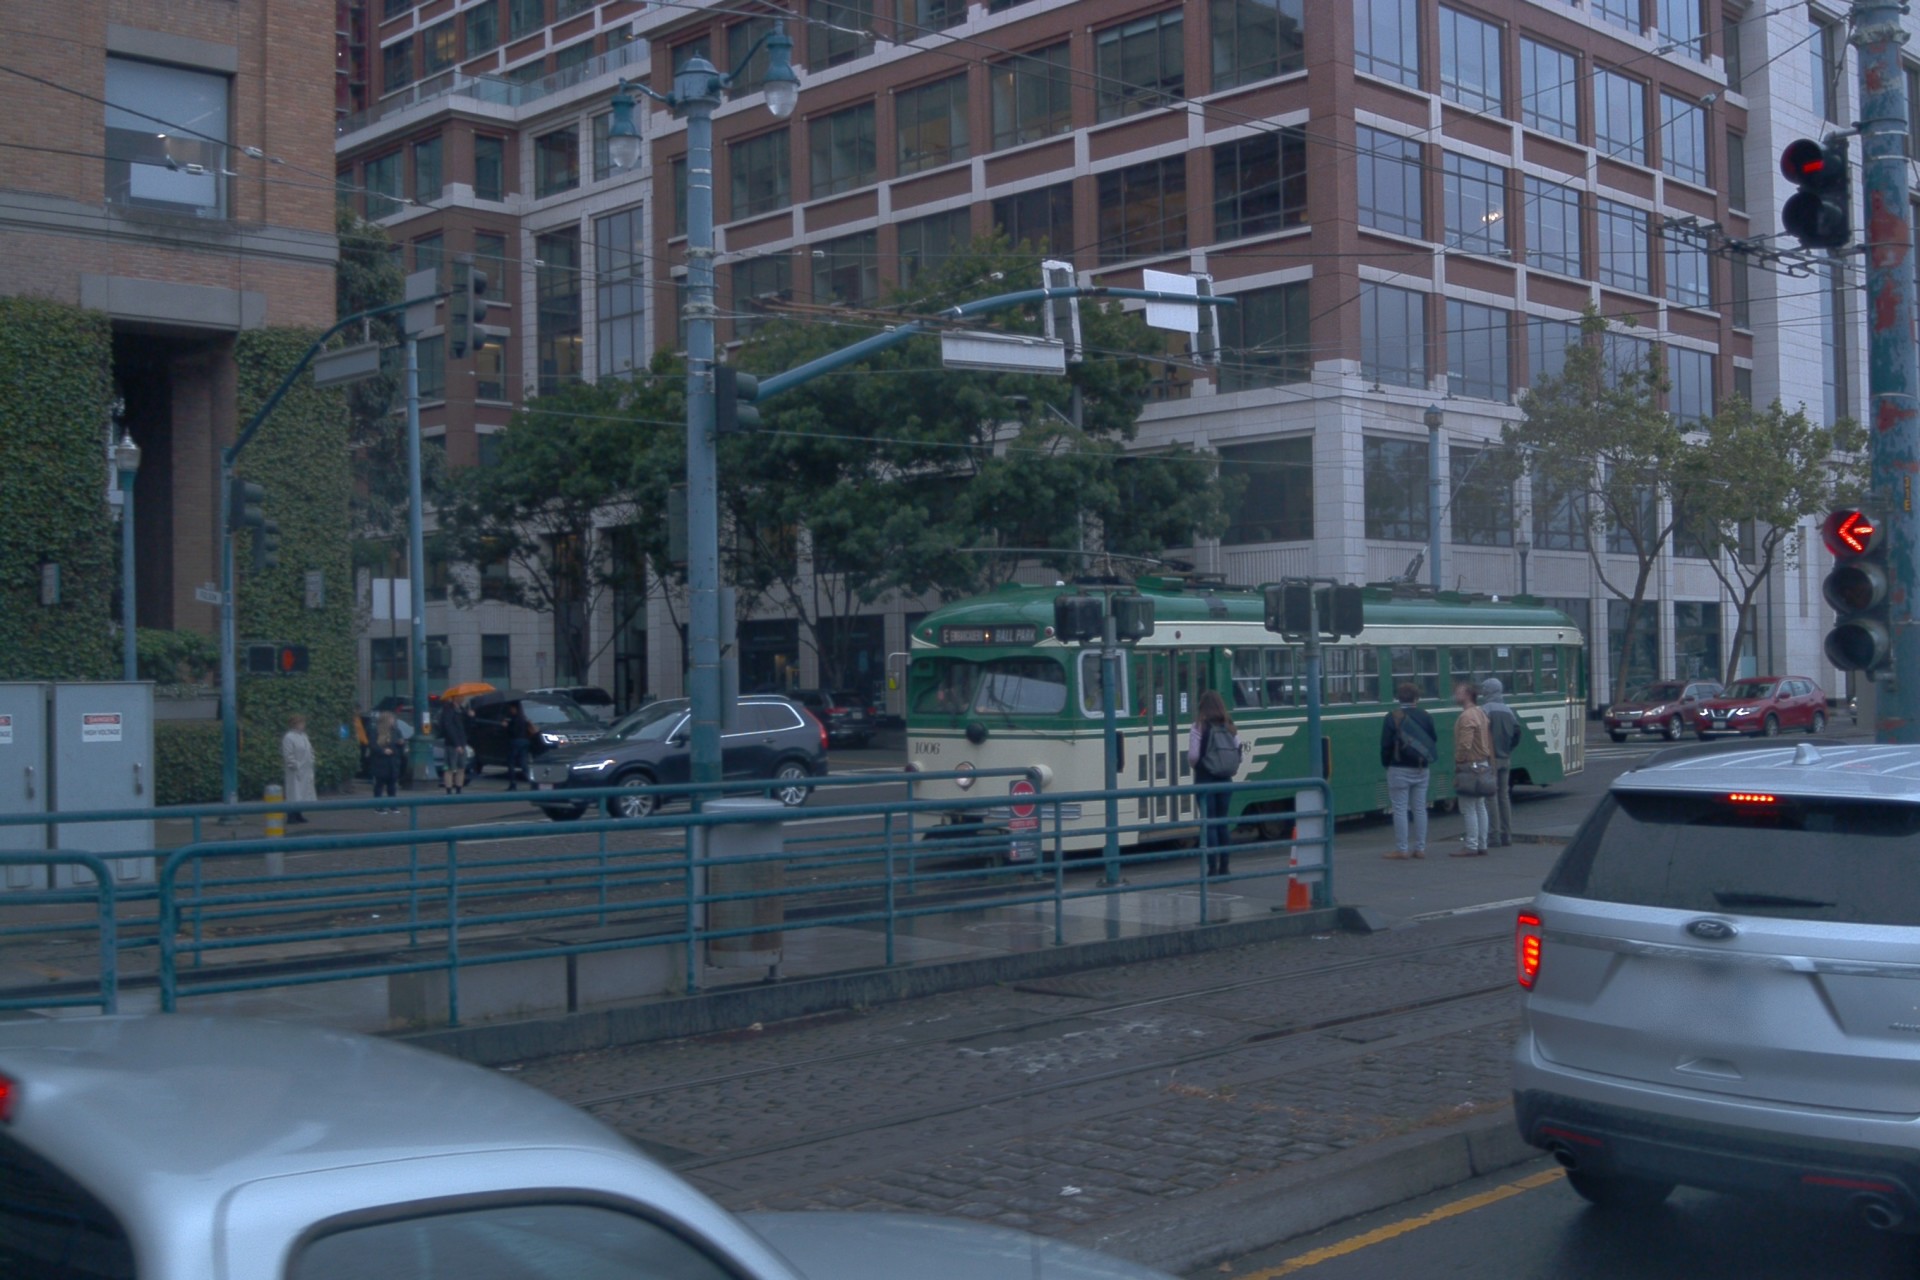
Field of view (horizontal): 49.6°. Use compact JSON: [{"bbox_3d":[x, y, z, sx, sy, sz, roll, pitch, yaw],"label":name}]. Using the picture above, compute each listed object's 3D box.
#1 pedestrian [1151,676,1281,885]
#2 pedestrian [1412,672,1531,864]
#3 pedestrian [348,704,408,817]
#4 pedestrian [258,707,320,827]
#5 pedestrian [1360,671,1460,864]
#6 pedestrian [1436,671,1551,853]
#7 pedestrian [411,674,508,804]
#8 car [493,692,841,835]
[{"bbox_3d":[2.351,1.264,19.132,0.852,1.840,0.831,0,0,-37],"label":"pedestrian"},{"bbox_3d":[5.297,1.298,21.545,0.878,1.920,0.851,0,0,-42],"label":"pedestrian"},{"bbox_3d":[-9.166,1.886,32.765,0.753,1.710,0.737,0,0,-30],"label":"pedestrian"},{"bbox_3d":[-9.901,1.857,30.676,0.687,1.710,0.635,0,0,-39],"label":"pedestrian"},{"bbox_3d":[4.617,1.288,21.379,0.821,1.920,0.882,0,0,-2],"label":"pedestrian"},{"bbox_3d":[5.818,1.304,22.703,0.877,1.920,0.852,0,0,-33],"label":"pedestrian"},{"bbox_3d":[-8.262,1.608,34.331,0.989,2.080,1.194,0,0,40],"label":"pedestrian"},{"bbox_3d":[-4.311,1.769,31.241,2.075,1.850,4.959,0,0,43],"label":"car"}]
